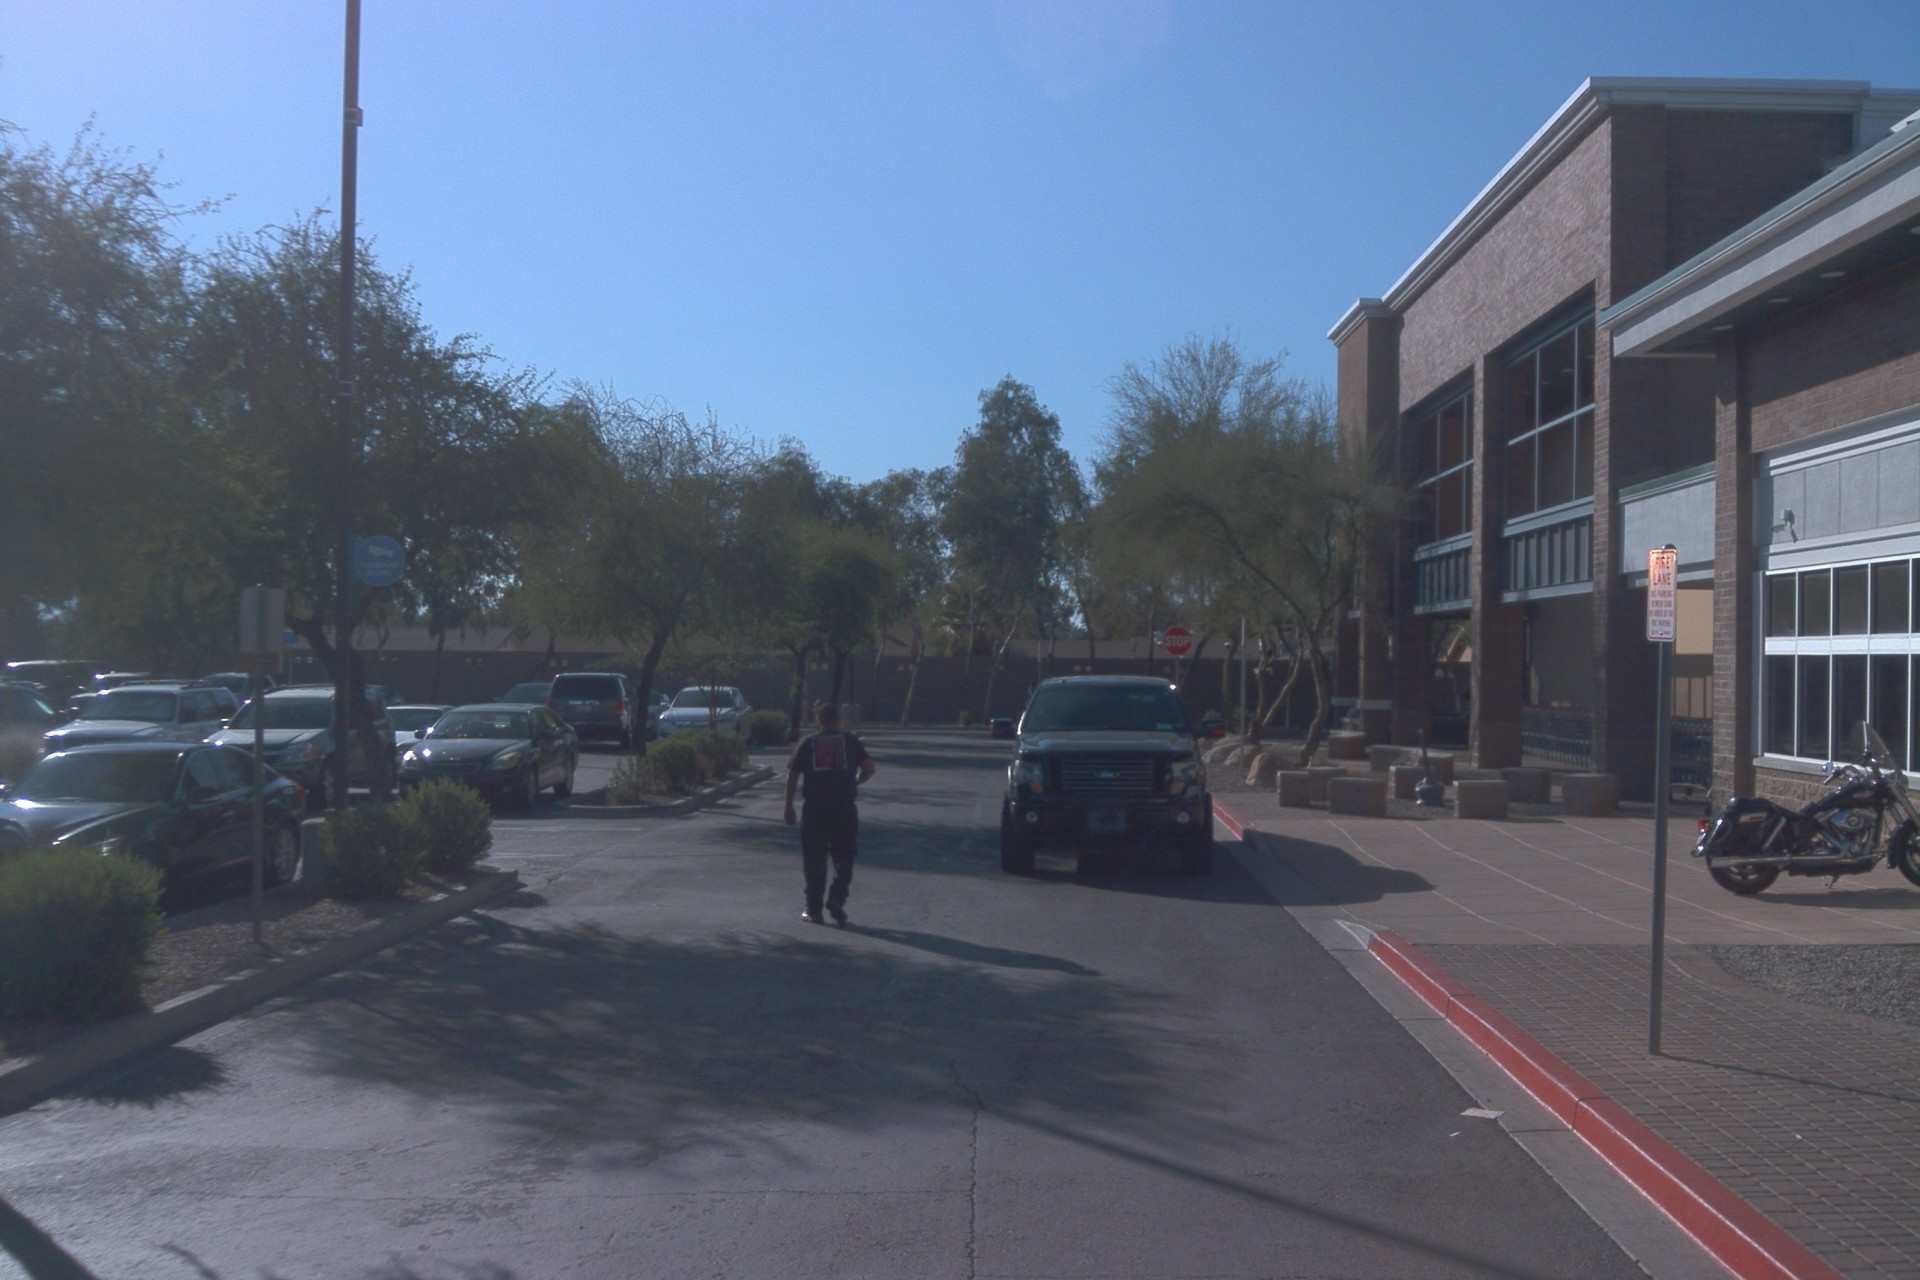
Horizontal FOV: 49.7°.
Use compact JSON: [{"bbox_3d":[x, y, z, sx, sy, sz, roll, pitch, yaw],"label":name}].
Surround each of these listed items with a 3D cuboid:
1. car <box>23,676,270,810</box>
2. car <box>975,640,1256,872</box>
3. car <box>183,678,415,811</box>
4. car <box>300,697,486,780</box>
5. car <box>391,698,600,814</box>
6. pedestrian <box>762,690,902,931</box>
[{"bbox_3d":[-12.140,1.500,31.308,1.922,1.860,4.555,-1,-1,1],"label":"car"},{"bbox_3d":[1.577,1.174,22.582,2.655,2.190,5.664,-1,-1,2],"label":"car"},{"bbox_3d":[-9.725,1.492,30.904,1.886,1.820,4.571,-1,-1,2],"label":"car"},{"bbox_3d":[-9.937,1.703,36.729,2.061,1.350,4.370,-1,-1,1],"label":"car"},{"bbox_3d":[-6.796,1.661,30.873,1.931,1.560,4.779,-1,-1,2],"label":"car"},{"bbox_3d":[-1.035,1.343,16.795,1.075,1.870,1.184,0,-1,-3],"label":"pedestrian"}]
